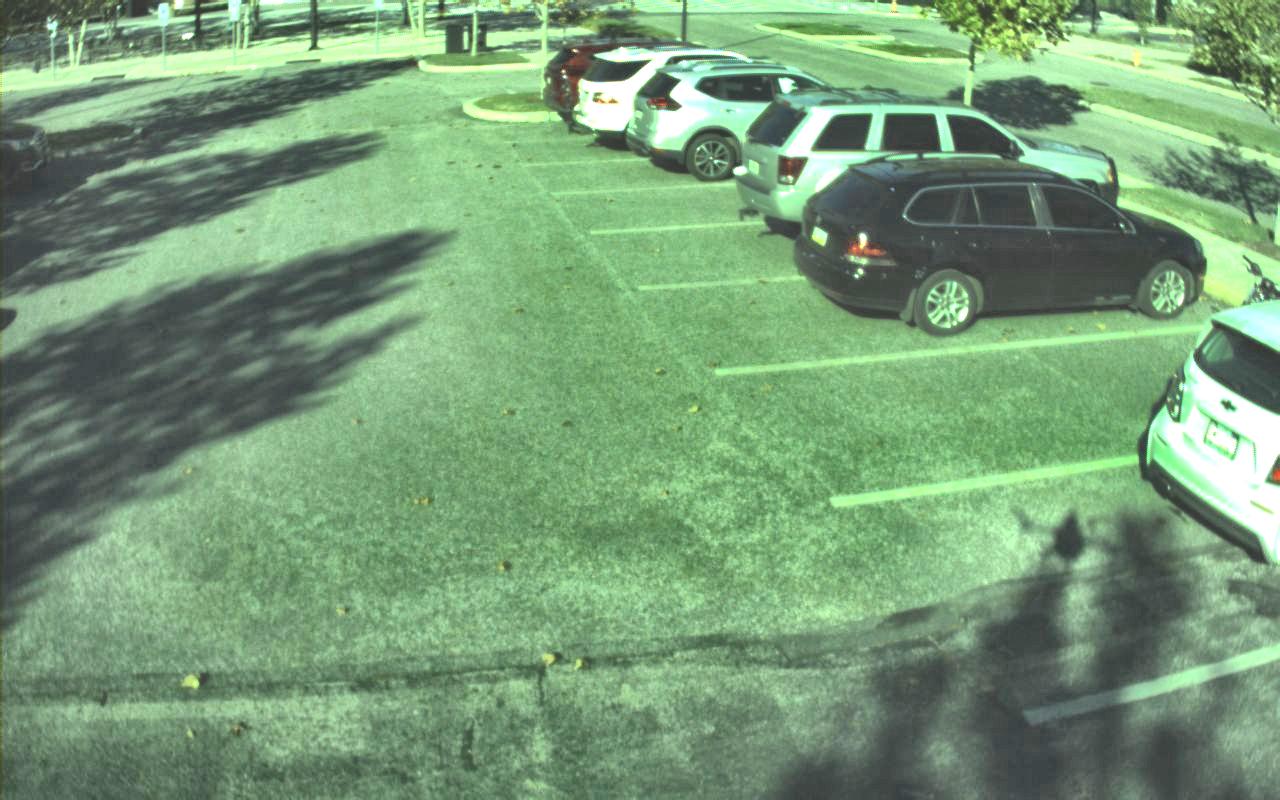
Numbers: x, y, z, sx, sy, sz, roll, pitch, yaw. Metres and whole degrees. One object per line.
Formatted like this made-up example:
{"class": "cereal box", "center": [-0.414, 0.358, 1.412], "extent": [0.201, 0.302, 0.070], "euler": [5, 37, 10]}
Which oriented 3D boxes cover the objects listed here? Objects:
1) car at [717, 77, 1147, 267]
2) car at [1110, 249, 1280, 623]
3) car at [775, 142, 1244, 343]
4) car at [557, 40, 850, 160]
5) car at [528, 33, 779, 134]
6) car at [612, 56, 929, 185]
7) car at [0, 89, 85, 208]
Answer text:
{"class": "car", "center": [3.452, -2.774, 14.281], "extent": [4.746, 1.883, 2.057], "euler": [-5, 17, -12]}
{"class": "car", "center": [5.474, 0.040, 7.245], "extent": [4.362, 1.680, 1.951], "euler": [-4, 16, -10]}
{"class": "car", "center": [3.702, -1.676, 11.919], "extent": [4.436, 1.542, 1.919], "euler": [-5, 17, -12]}
{"class": "car", "center": [1.076, -5.238, 21.309], "extent": [4.653, 1.854, 2.029], "euler": [-6, 17, -16]}
{"class": "car", "center": [0.229, -6.173, 23.882], "extent": [4.480, 1.779, 1.988], "euler": [-5, 17, -14]}
{"class": "car", "center": [1.991, -4.371, 19.003], "extent": [4.511, 1.777, 1.982], "euler": [-5, 17, -13]}
{"class": "car", "center": [-12.118, -4.385, 19.316], "extent": [4.465, 1.643, 1.984], "euler": [4, 17, 16]}
